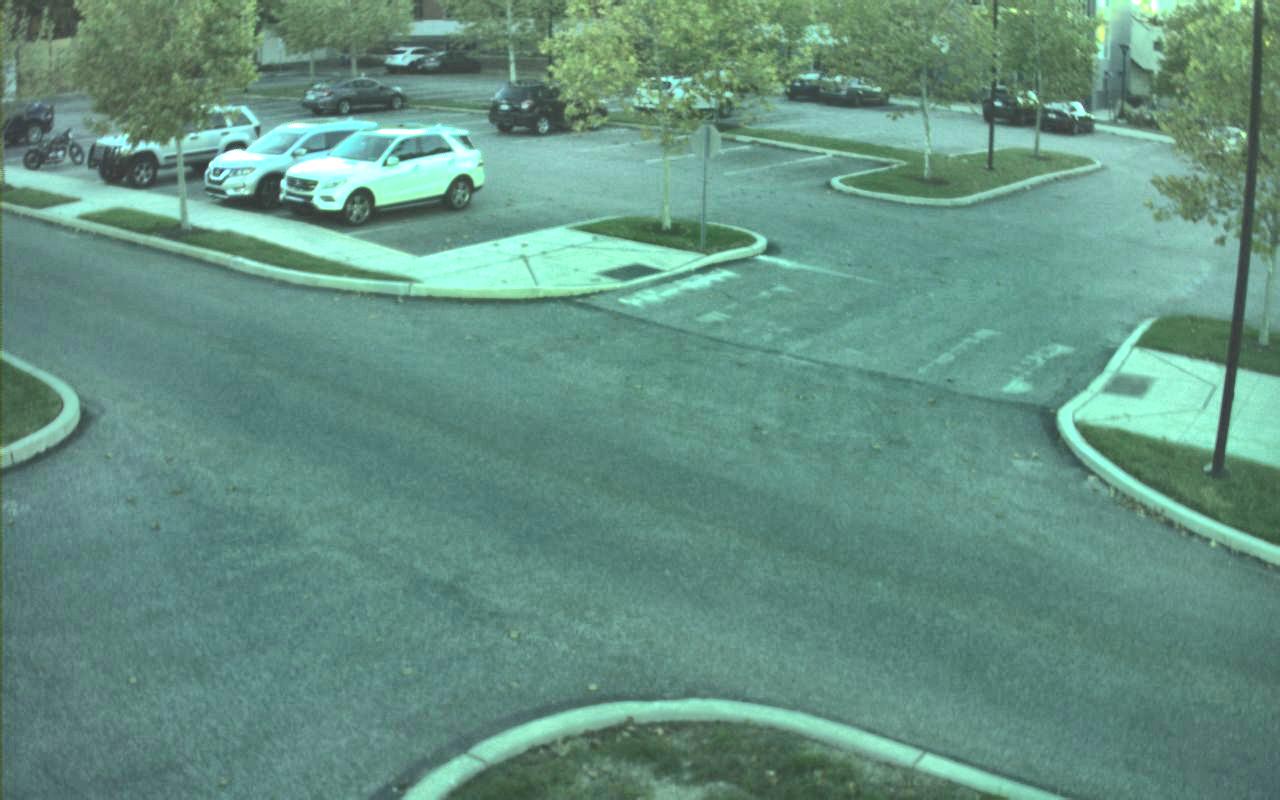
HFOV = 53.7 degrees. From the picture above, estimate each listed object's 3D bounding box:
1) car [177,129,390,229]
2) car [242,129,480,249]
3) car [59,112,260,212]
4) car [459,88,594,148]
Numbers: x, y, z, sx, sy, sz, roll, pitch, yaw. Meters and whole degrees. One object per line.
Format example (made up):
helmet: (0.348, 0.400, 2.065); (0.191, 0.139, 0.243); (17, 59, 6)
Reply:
car: (-7.813, -4.903, 26.530); (1.942, 1.596, 4.517); (11, 20, 36)
car: (-5.673, -4.430, 25.227); (2.044, 1.829, 4.850); (10, 19, 33)
car: (-12.081, -5.974, 29.289); (2.071, 1.837, 4.941); (11, 20, 37)
car: (-3.668, -9.279, 40.642); (1.980, 1.638, 4.620); (9, 19, 32)
